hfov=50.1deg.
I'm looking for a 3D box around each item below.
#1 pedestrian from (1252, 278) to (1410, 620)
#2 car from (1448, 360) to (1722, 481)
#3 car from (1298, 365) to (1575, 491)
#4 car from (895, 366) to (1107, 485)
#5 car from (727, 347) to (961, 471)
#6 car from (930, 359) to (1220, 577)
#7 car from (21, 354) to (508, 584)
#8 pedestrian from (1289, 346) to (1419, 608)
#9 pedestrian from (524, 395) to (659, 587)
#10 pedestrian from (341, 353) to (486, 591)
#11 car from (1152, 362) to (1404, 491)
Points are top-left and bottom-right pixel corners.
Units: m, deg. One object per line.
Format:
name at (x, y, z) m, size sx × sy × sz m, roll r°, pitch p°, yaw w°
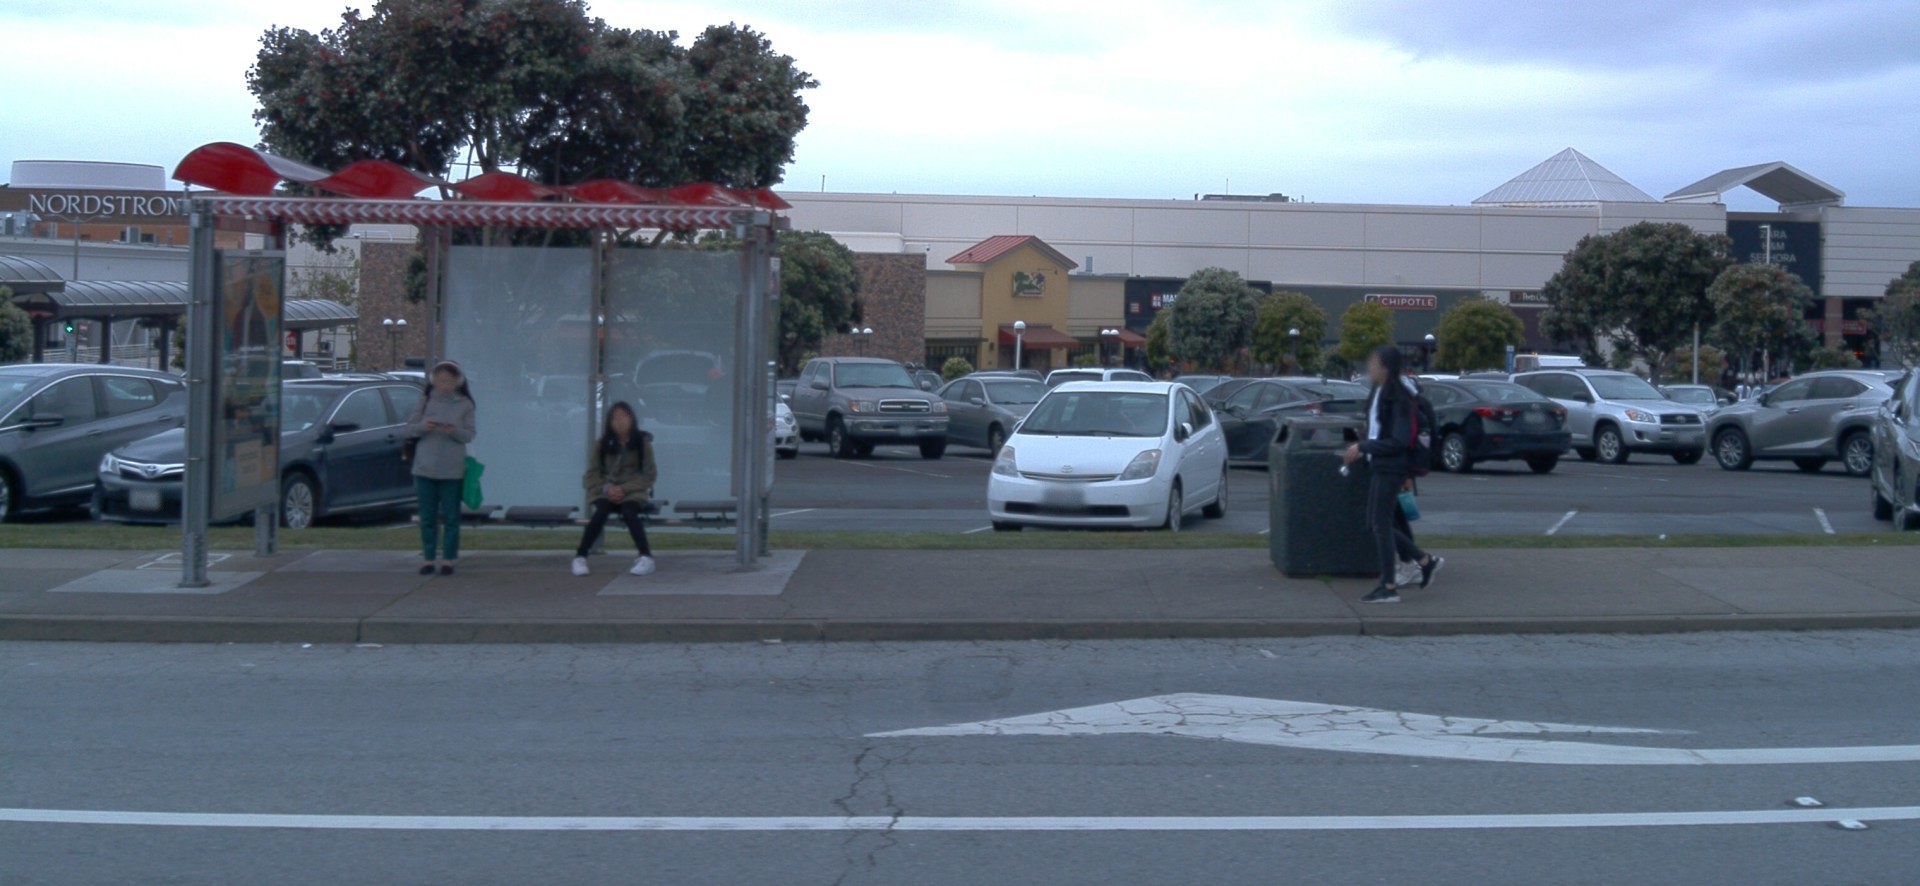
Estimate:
pedestrian at (2.471, 0.001, 13.793) m, size 0.895 × 2.199 × 0.975 m, roll 0°, pitch 1°, yaw 0°
car at (11.092, -0.488, 36.893) m, size 2.091 × 1.694 × 4.870 m, roll -2°, pitch 5°, yaw -23°
car at (7.521, -0.318, 32.903) m, size 2.033 × 1.564 × 4.492 m, roll -2°, pitch 5°, yaw -24°
car at (0.659, -0.387, 37.243) m, size 2.001 × 1.694 × 4.418 m, roll -2°, pitch 5°, yaw -27°
car at (-2.233, -0.709, 37.535) m, size 2.362 × 1.763 × 5.529 m, roll -2°, pitch 5°, yaw -26°
car at (1.294, 0.126, 20.770) m, size 1.961 × 1.664 × 4.448 m, roll 1°, pitch 5°, yaw 16°
car at (-6.678, 0.111, 20.424) m, size 2.191 × 1.693 × 4.819 m, roll 1°, pitch 5°, yaw 17°
pedestrian at (2.723, 0.211, 14.266) m, size 0.733 × 1.729 × 0.743 m, roll 0°, pitch 1°, yaw -3°
pedestrian at (-2.709, 0.335, 15.172) m, size 0.833 × 1.309 × 0.843 m, roll 0°, pitch 2°, yaw 0°
pedestrian at (-3.945, 0.189, 14.892) m, size 0.809 × 1.629 × 0.833 m, roll 0°, pitch 1°, yaw 1°
car at (4.889, -0.333, 32.298) m, size 1.970 × 1.564 × 4.485 m, roll -1°, pitch 5°, yaw -21°
